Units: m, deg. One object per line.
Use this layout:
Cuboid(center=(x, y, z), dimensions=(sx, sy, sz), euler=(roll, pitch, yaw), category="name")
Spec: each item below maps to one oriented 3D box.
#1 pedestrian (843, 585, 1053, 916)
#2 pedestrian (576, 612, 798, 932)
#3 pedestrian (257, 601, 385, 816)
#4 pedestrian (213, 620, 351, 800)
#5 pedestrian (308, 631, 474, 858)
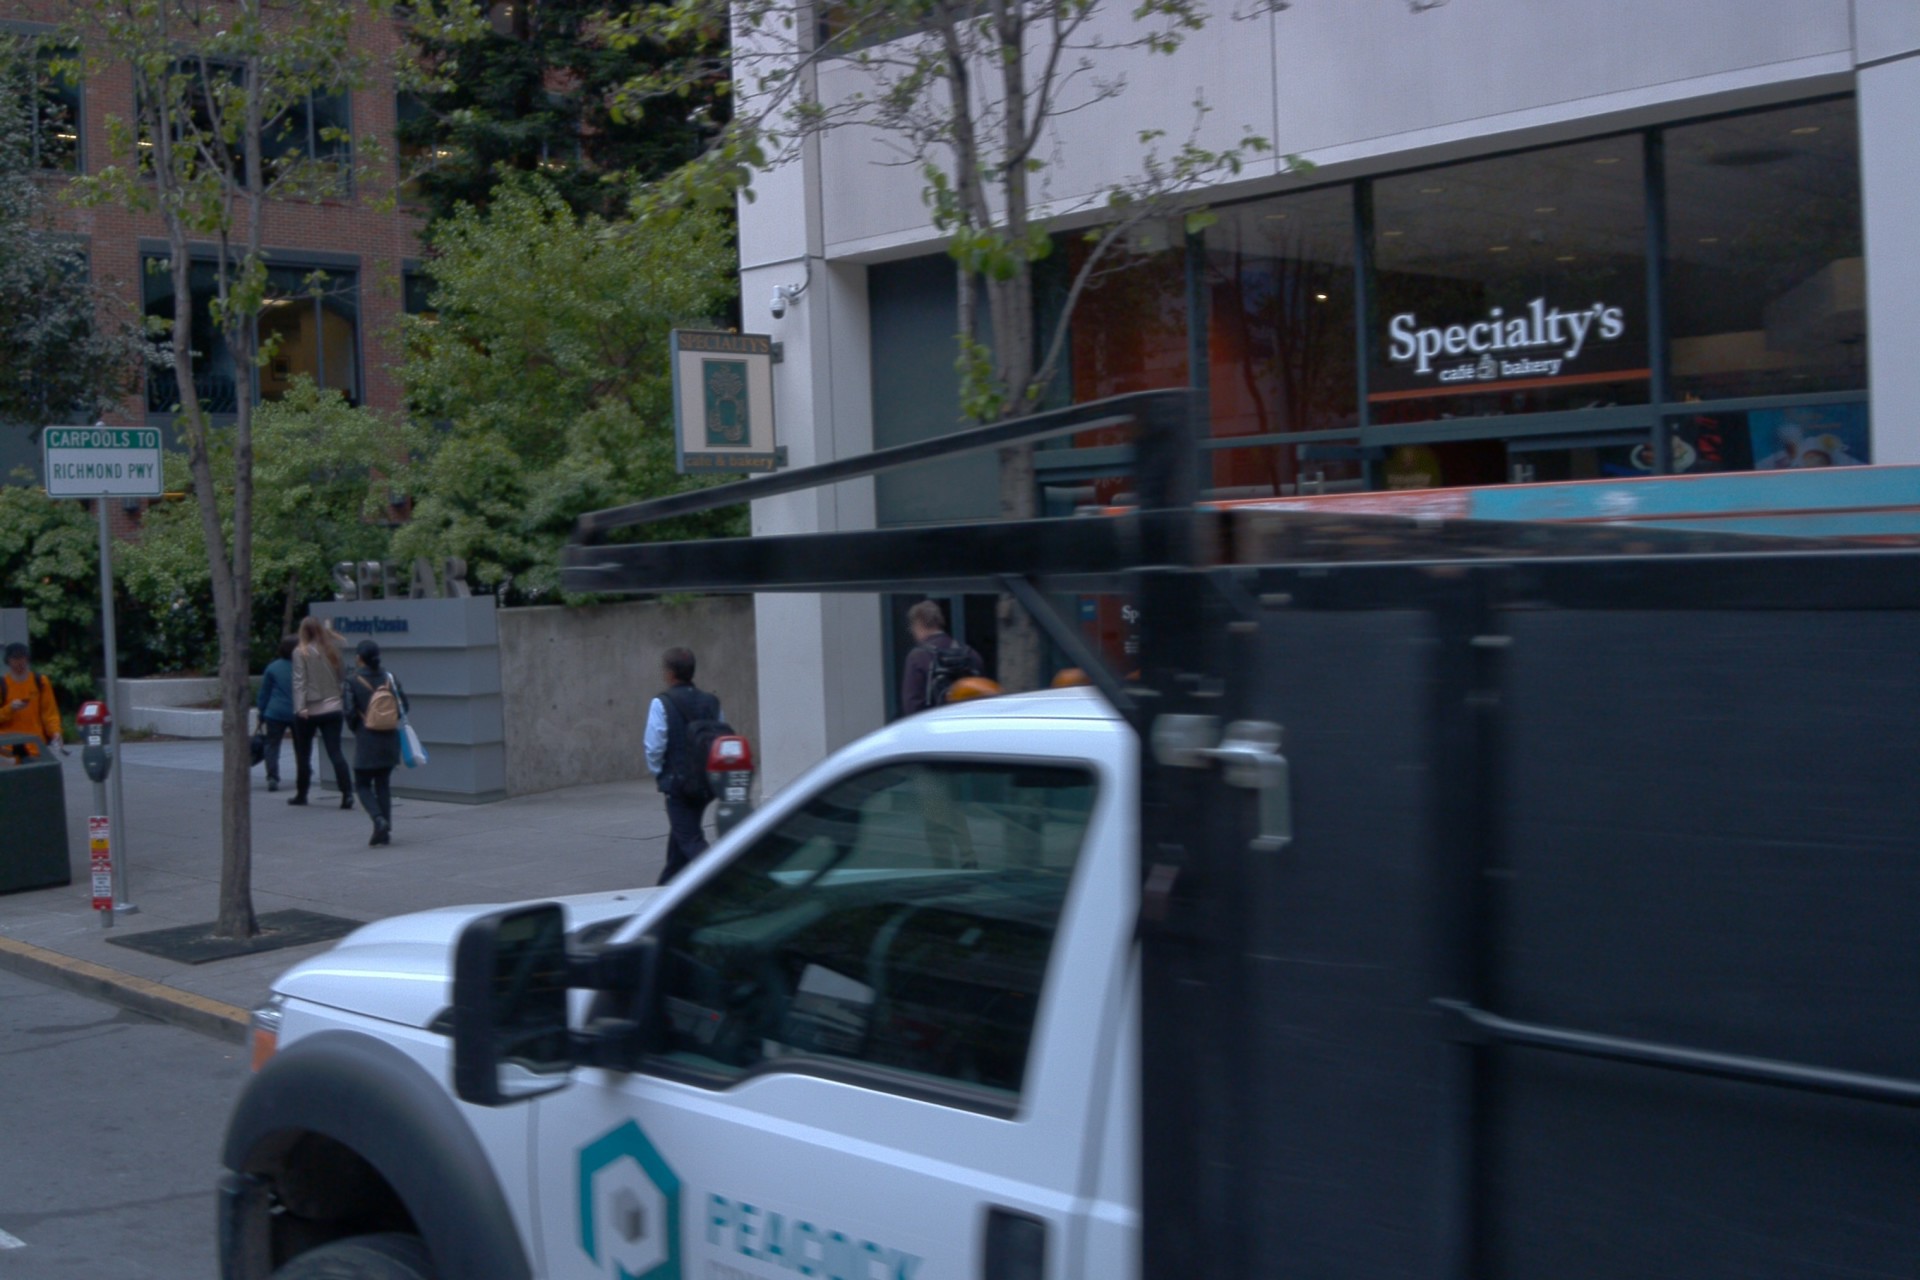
Cuboid(center=(-0.077, 0.619, 12.257), dimensions=(0.794, 1.873, 0.992), euler=(0, 0, -40), category="pedestrian")
Cuboid(center=(-1.636, 0.739, 12.294), dimensions=(0.888, 1.804, 1.024), euler=(0, 0, -42), category="pedestrian")
Cuboid(center=(-5.784, 0.587, 18.588), dimensions=(0.882, 1.877, 1.015), euler=(0, 0, -30), category="pedestrian")
Cuboid(center=(-6.702, 0.670, 20.346), dimensions=(0.922, 1.727, 0.932), euler=(0, 0, 18), category="pedestrian")
Cuboid(center=(-4.407, 0.770, 15.911), dimensions=(0.935, 1.675, 0.950), euler=(0, 0, -38), category="pedestrian")
